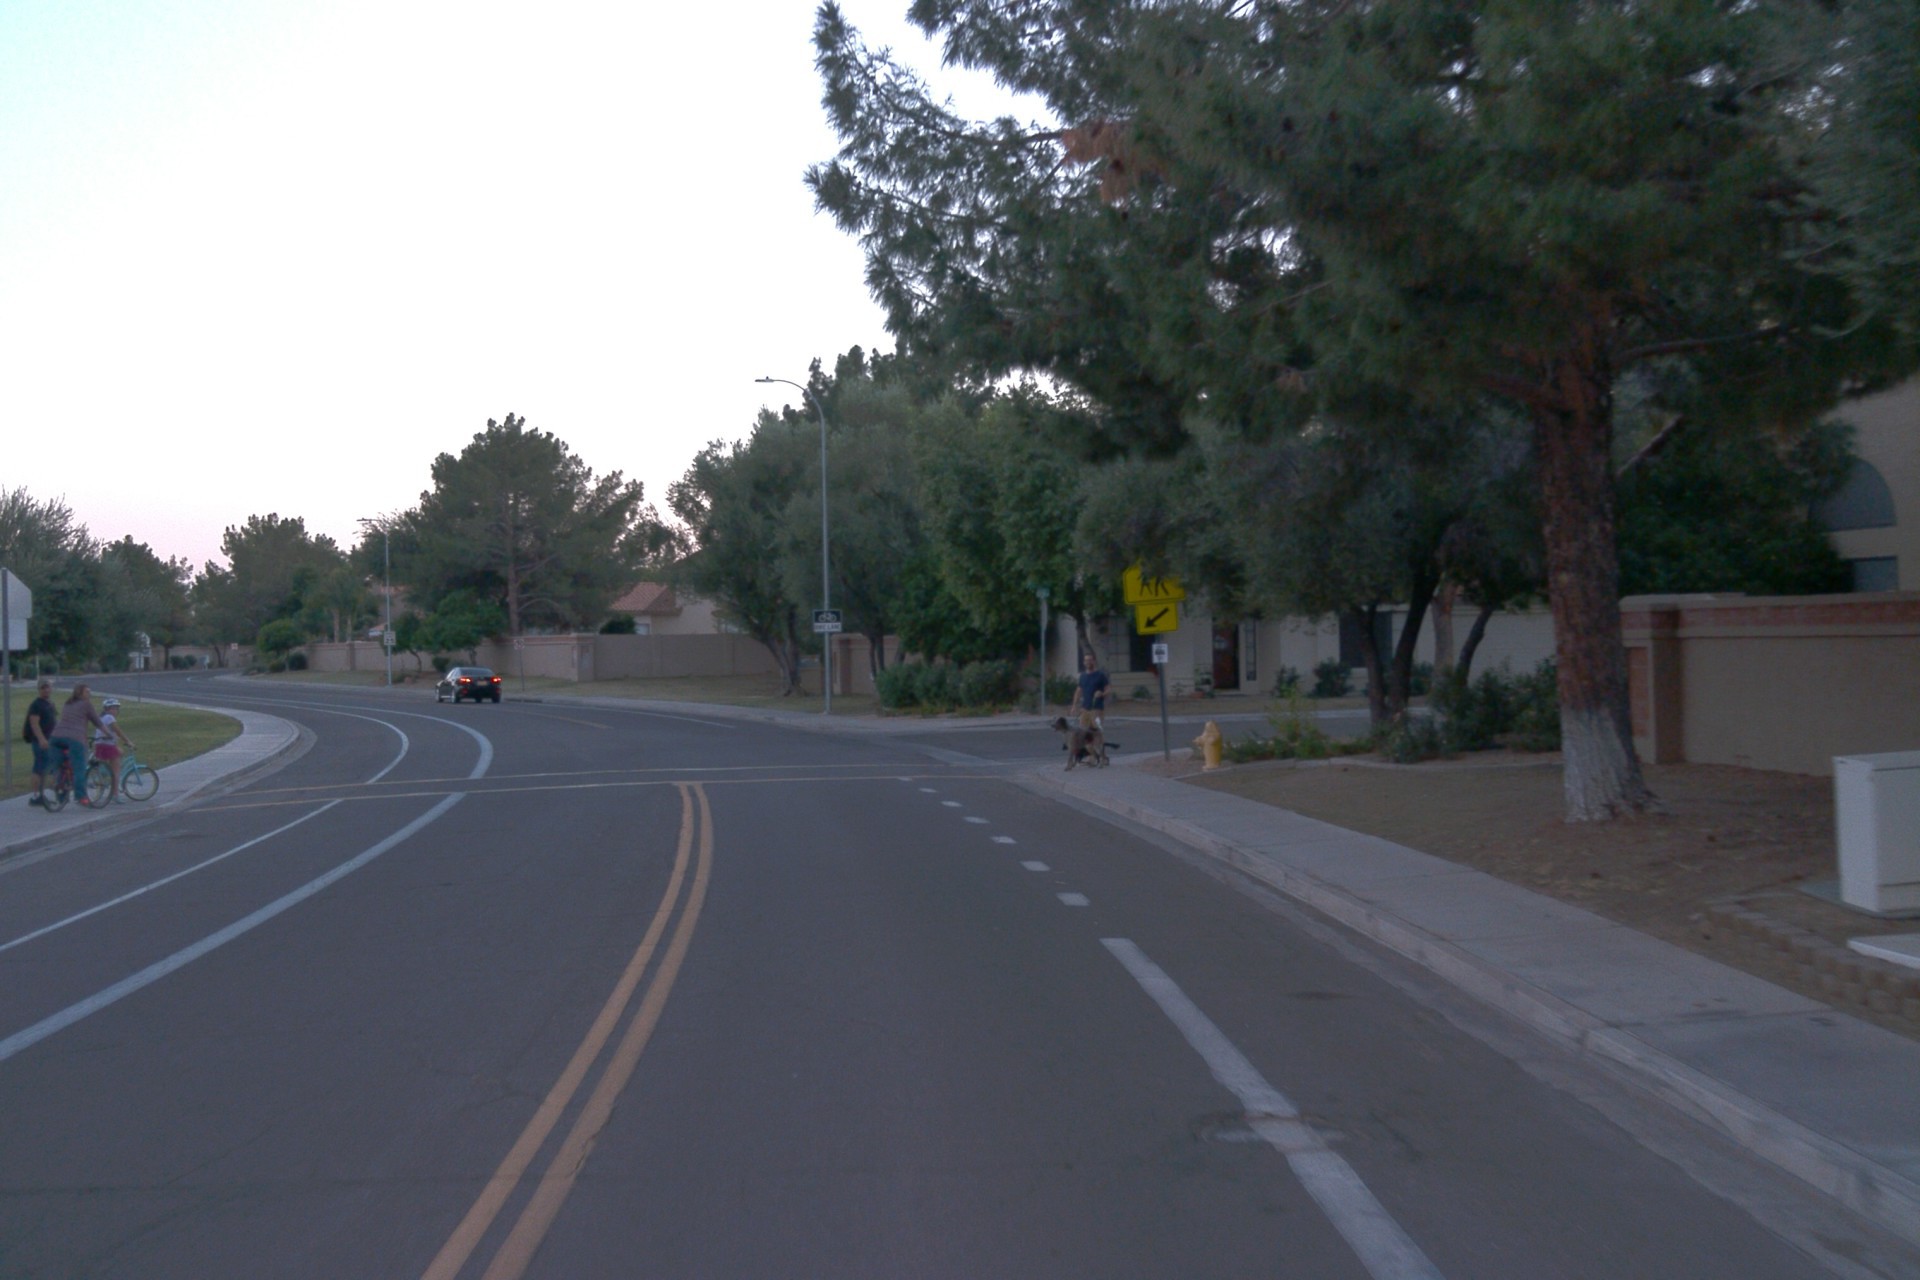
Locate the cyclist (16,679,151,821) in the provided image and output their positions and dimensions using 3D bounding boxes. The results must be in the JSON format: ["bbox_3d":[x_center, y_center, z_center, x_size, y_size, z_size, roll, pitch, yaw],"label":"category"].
[{"bbox_3d":[-11.430,1.404,27.254,0.808,1.770,1.957,0,0,5],"label":"cyclist"}]

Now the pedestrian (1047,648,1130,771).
[{"bbox_3d":[1.985,1.055,32.175,1.001,1.860,0.982,0,0,24],"label":"pedestrian"}]

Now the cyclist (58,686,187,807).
[{"bbox_3d":[-11.825,1.478,29.470,0.729,1.630,1.572,0,0,30],"label":"cyclist"}]
